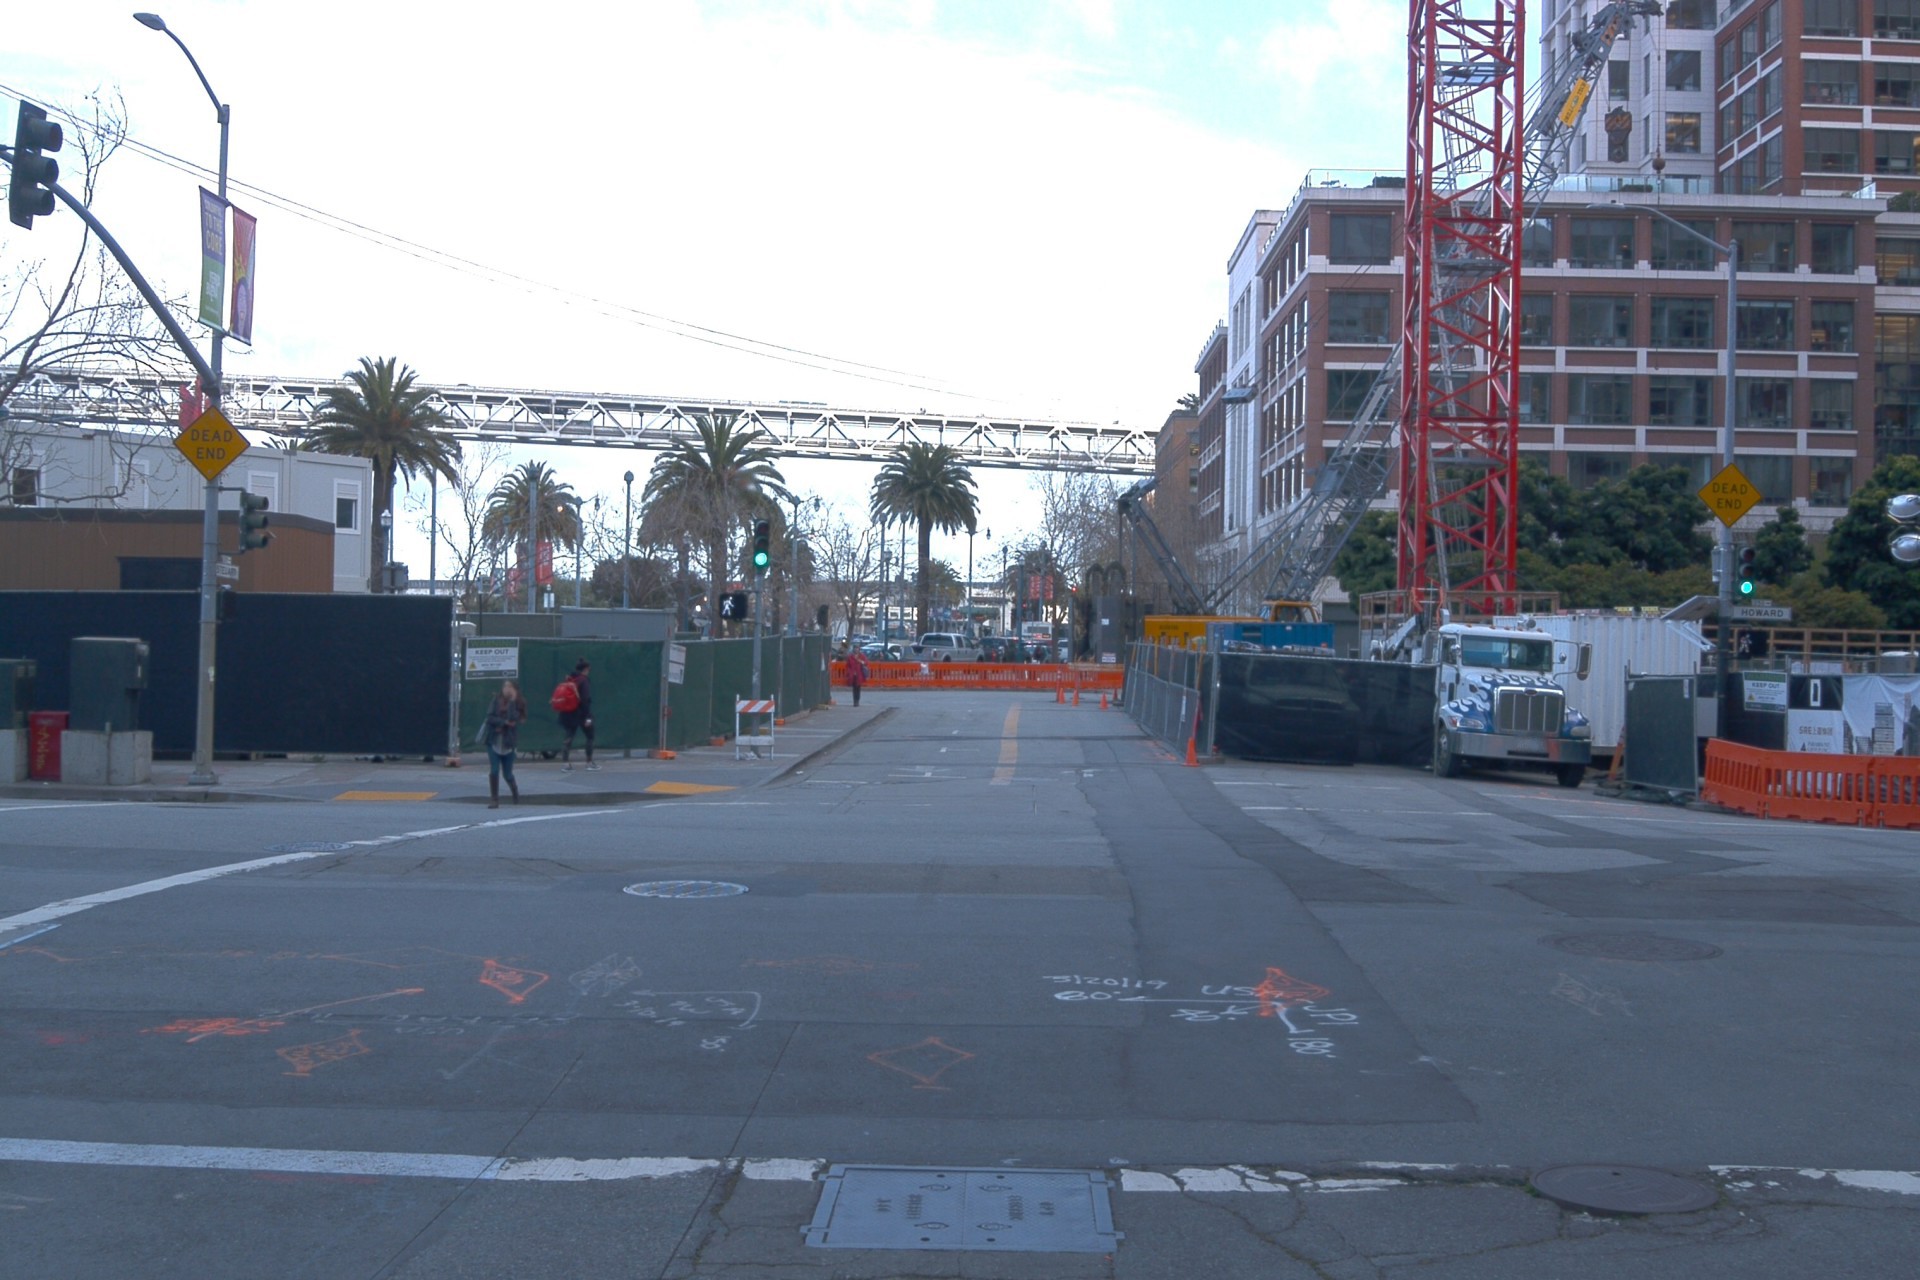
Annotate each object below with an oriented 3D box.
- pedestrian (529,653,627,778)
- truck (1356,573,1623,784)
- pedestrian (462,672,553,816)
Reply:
[{"bbox_3d":[-5.557,1.074,29.753,0.772,1.760,1.195,1,0,35],"label":"pedestrian"},{"bbox_3d":[9.214,0.605,36.486,2.982,3.380,7.061,1,0,1],"label":"truck"},{"bbox_3d":[-5.640,1.281,25.515,0.847,1.720,1.093,1,0,2],"label":"pedestrian"}]
